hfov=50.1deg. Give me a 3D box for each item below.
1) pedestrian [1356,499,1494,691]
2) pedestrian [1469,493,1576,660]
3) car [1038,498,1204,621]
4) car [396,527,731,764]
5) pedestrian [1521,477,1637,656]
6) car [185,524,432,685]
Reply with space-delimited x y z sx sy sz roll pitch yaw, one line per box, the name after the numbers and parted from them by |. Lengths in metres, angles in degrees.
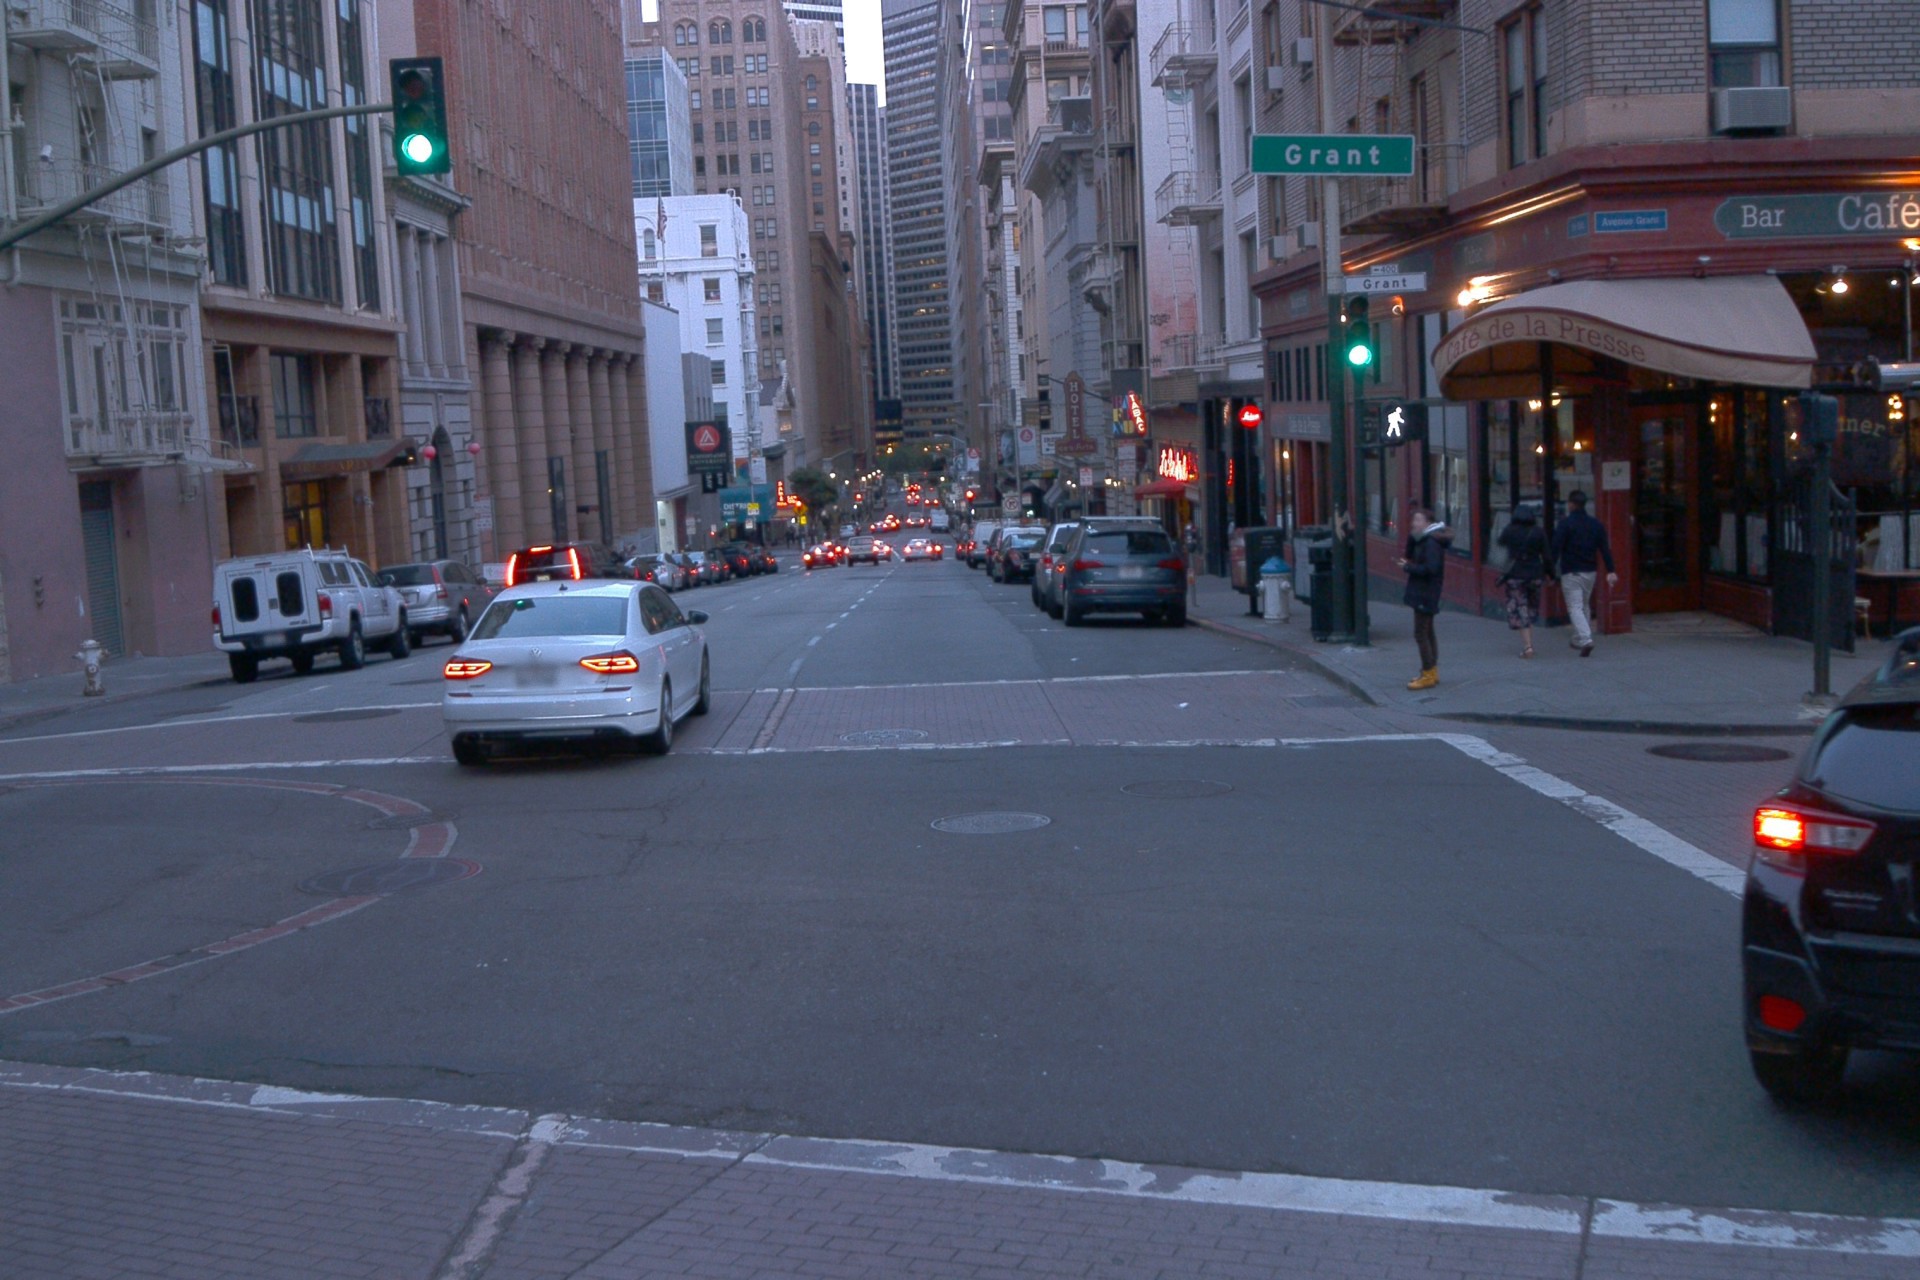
4.362 -0.419 19.332 1.062 1.756 0.906 0 1 -2 | pedestrian
5.694 -0.637 20.861 0.766 1.656 0.958 0 1 -4 | pedestrian
2.516 -1.240 33.326 2.214 1.850 4.835 0 1 -1 | car
-3.363 0.013 18.458 2.118 1.850 4.734 0 1 0 | car
6.274 -0.737 20.866 0.839 1.766 0.956 0 1 -4 | pedestrian
-10.001 -0.546 32.076 2.287 2.294 5.435 0 1 -2 | car
